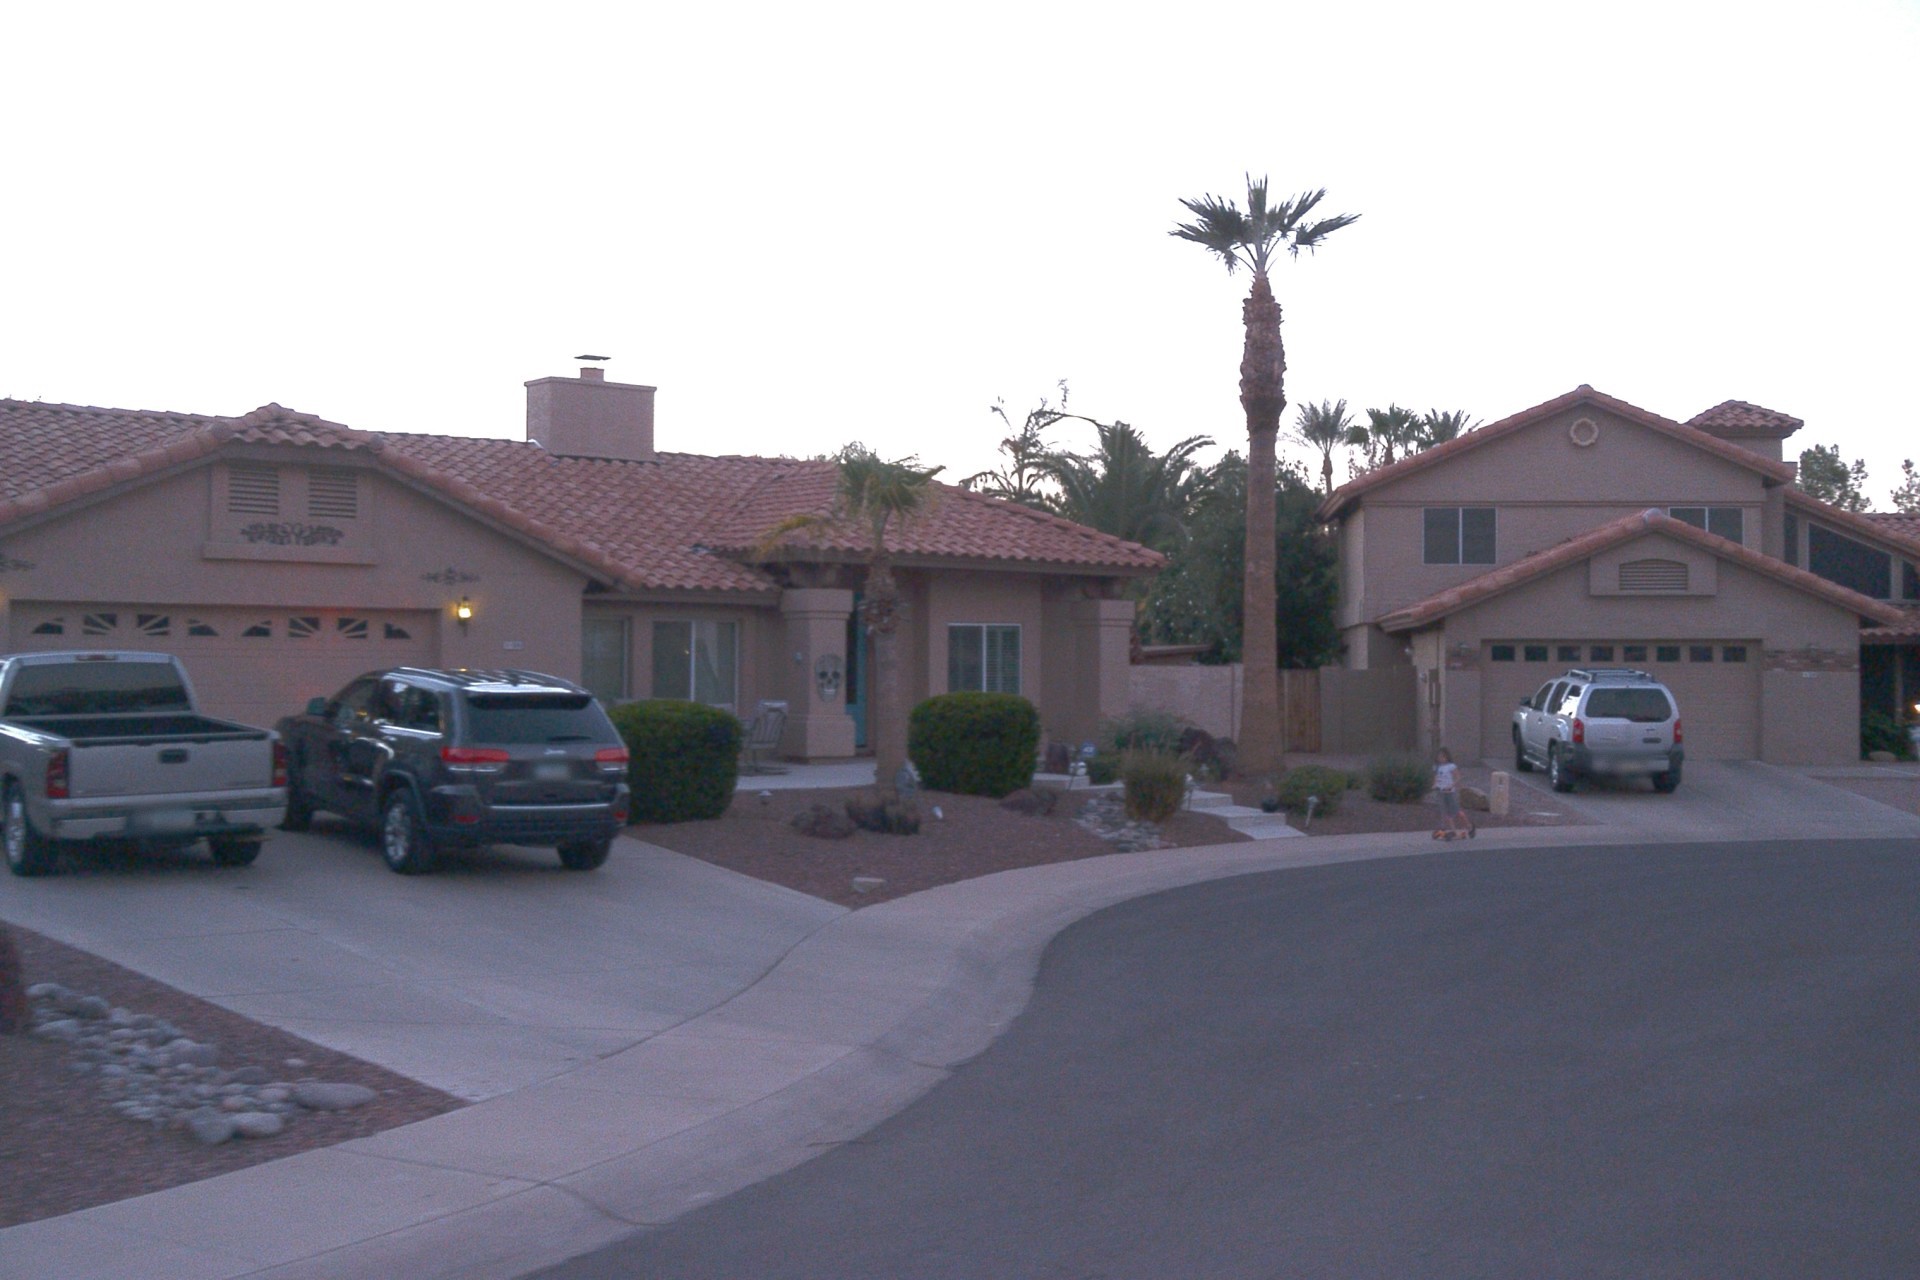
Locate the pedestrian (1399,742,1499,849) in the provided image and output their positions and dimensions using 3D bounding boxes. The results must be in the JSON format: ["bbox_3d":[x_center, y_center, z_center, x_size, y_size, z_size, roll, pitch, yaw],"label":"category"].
[{"bbox_3d":[6.170,1.951,26.190,1.099,1.280,0.644,1,-1,-34],"label":"pedestrian"}]

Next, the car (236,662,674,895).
[{"bbox_3d":[-4.895,1.175,19.585,2.190,1.860,4.761,1,-1,-39],"label":"car"}]

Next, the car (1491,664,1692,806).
[{"bbox_3d":[10.065,1.450,33.436,2.105,2.070,4.688,1,-1,4],"label":"car"}]
